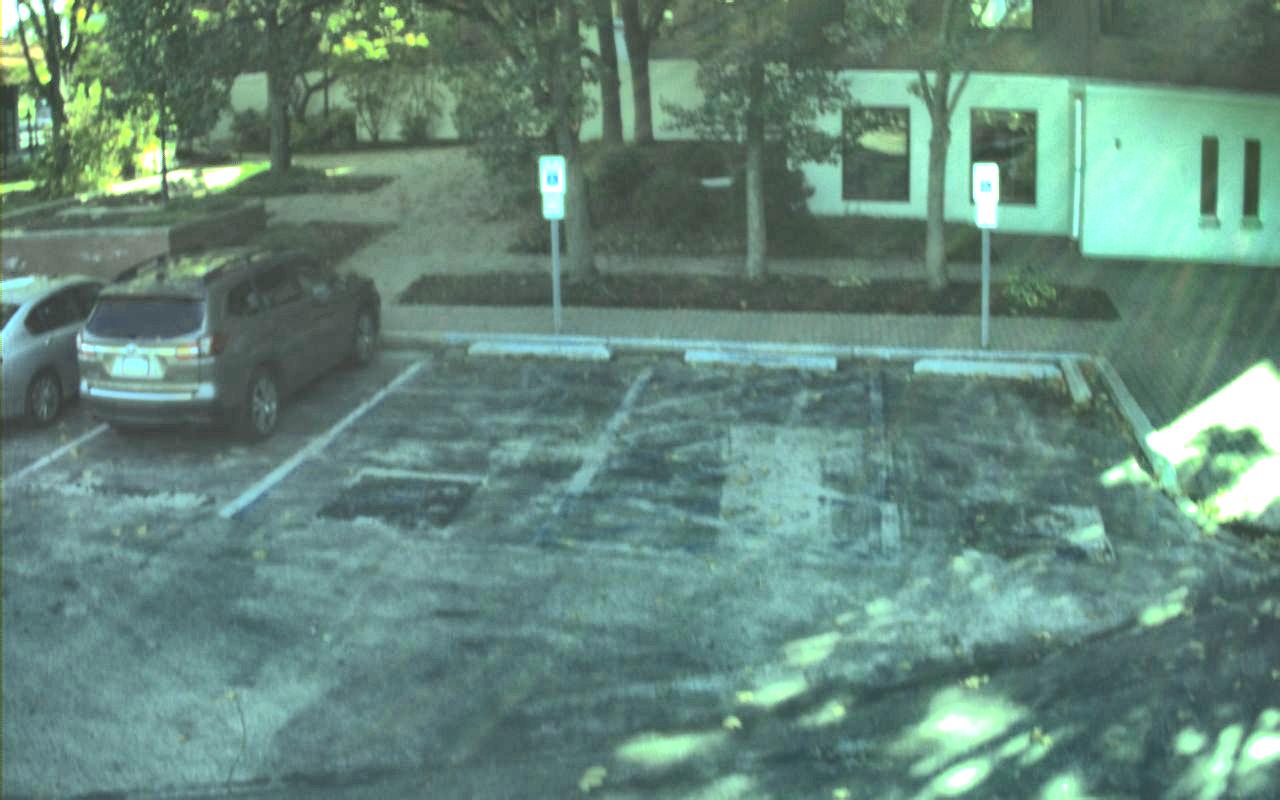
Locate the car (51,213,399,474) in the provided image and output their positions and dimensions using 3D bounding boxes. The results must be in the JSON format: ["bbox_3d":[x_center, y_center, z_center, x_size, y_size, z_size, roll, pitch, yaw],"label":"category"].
[{"bbox_3d":[-4.350,-0.812,13.231,1.992,1.698,4.622,1,17,9],"label":"car"}]

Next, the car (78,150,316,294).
[{"bbox_3d":[-7.492,-3.119,20.384,2.027,1.665,4.714,2,17,12],"label":"car"}]
